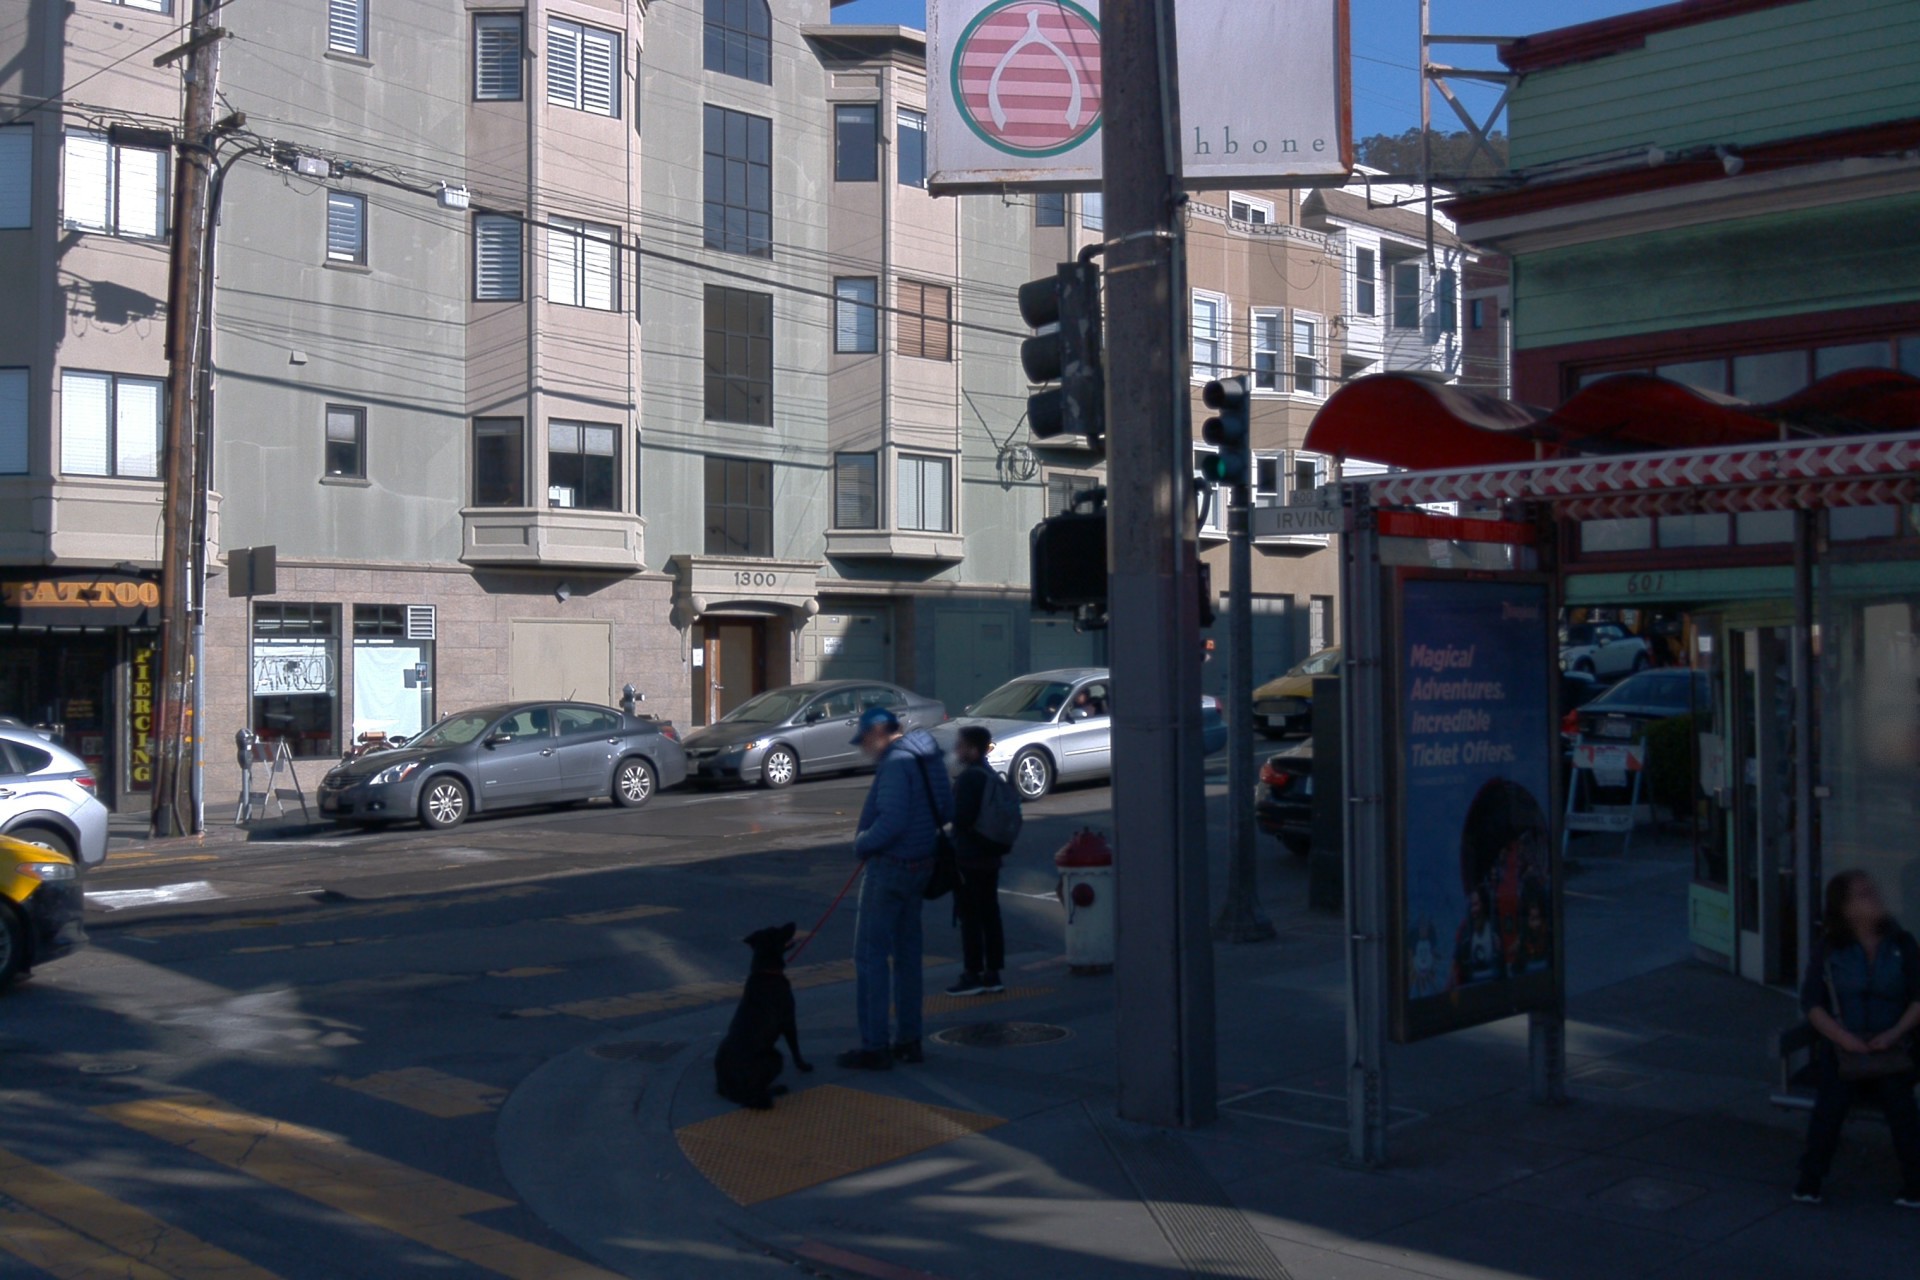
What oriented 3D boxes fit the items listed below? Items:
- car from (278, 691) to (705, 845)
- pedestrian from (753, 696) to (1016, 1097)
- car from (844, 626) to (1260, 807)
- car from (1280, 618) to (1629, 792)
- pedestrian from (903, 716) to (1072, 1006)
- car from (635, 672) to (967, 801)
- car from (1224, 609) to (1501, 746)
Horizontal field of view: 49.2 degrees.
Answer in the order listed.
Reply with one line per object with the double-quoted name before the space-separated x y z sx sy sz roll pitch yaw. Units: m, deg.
"car" -5.776 1.515 26.272 2.149 1.660 4.833 0 0 44
"pedestrian" -0.374 1.226 10.527 0.894 1.860 0.955 1 0 40
"car" 1.237 0.877 26.029 5.034 2.030 2.283 1 0 -43
"car" 6.349 0.764 26.527 2.072 1.990 4.910 1 0 44
"pedestrian" 0.168 1.342 13.044 0.687 1.700 0.778 0 0 -43
"car" -2.214 1.319 30.144 2.102 1.670 4.524 0 0 43
"car" 6.668 0.594 34.429 4.772 2.100 2.070 1 0 -44
